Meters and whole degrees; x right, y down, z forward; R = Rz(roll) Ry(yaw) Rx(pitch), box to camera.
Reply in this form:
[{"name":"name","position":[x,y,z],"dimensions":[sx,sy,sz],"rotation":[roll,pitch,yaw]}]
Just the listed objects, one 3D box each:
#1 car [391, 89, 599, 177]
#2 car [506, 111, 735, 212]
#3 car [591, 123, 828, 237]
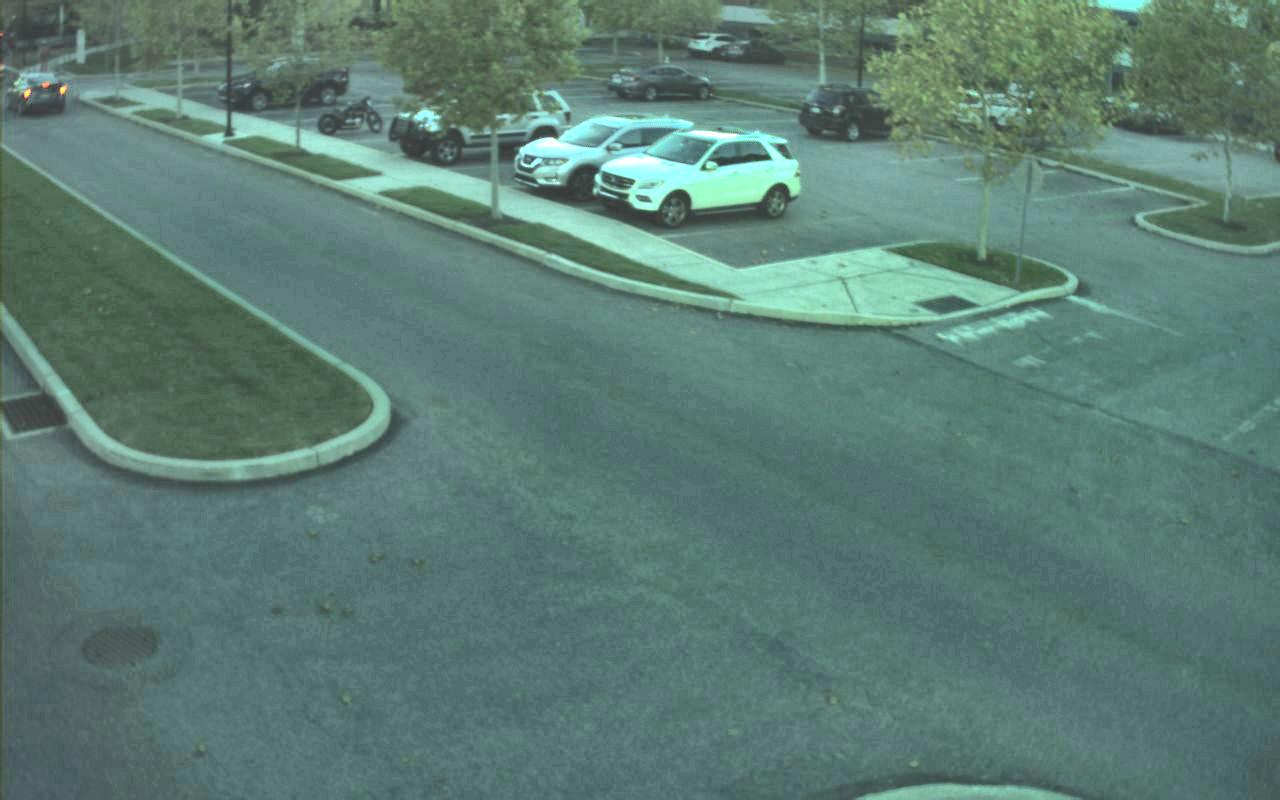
[{"name":"car","position":[-3.619,-6.762,31.096],"dimensions":[4.873,1.803,2.051],"rotation":[-13,19,-36]},{"name":"car","position":[-0.361,-5.325,27.517],"dimensions":[4.797,1.746,2.037],"rotation":[-13,20,-37]},{"name":"car","position":[1.517,-4.615,25.707],"dimensions":[4.797,1.813,2.041],"rotation":[-14,20,-39]}]
